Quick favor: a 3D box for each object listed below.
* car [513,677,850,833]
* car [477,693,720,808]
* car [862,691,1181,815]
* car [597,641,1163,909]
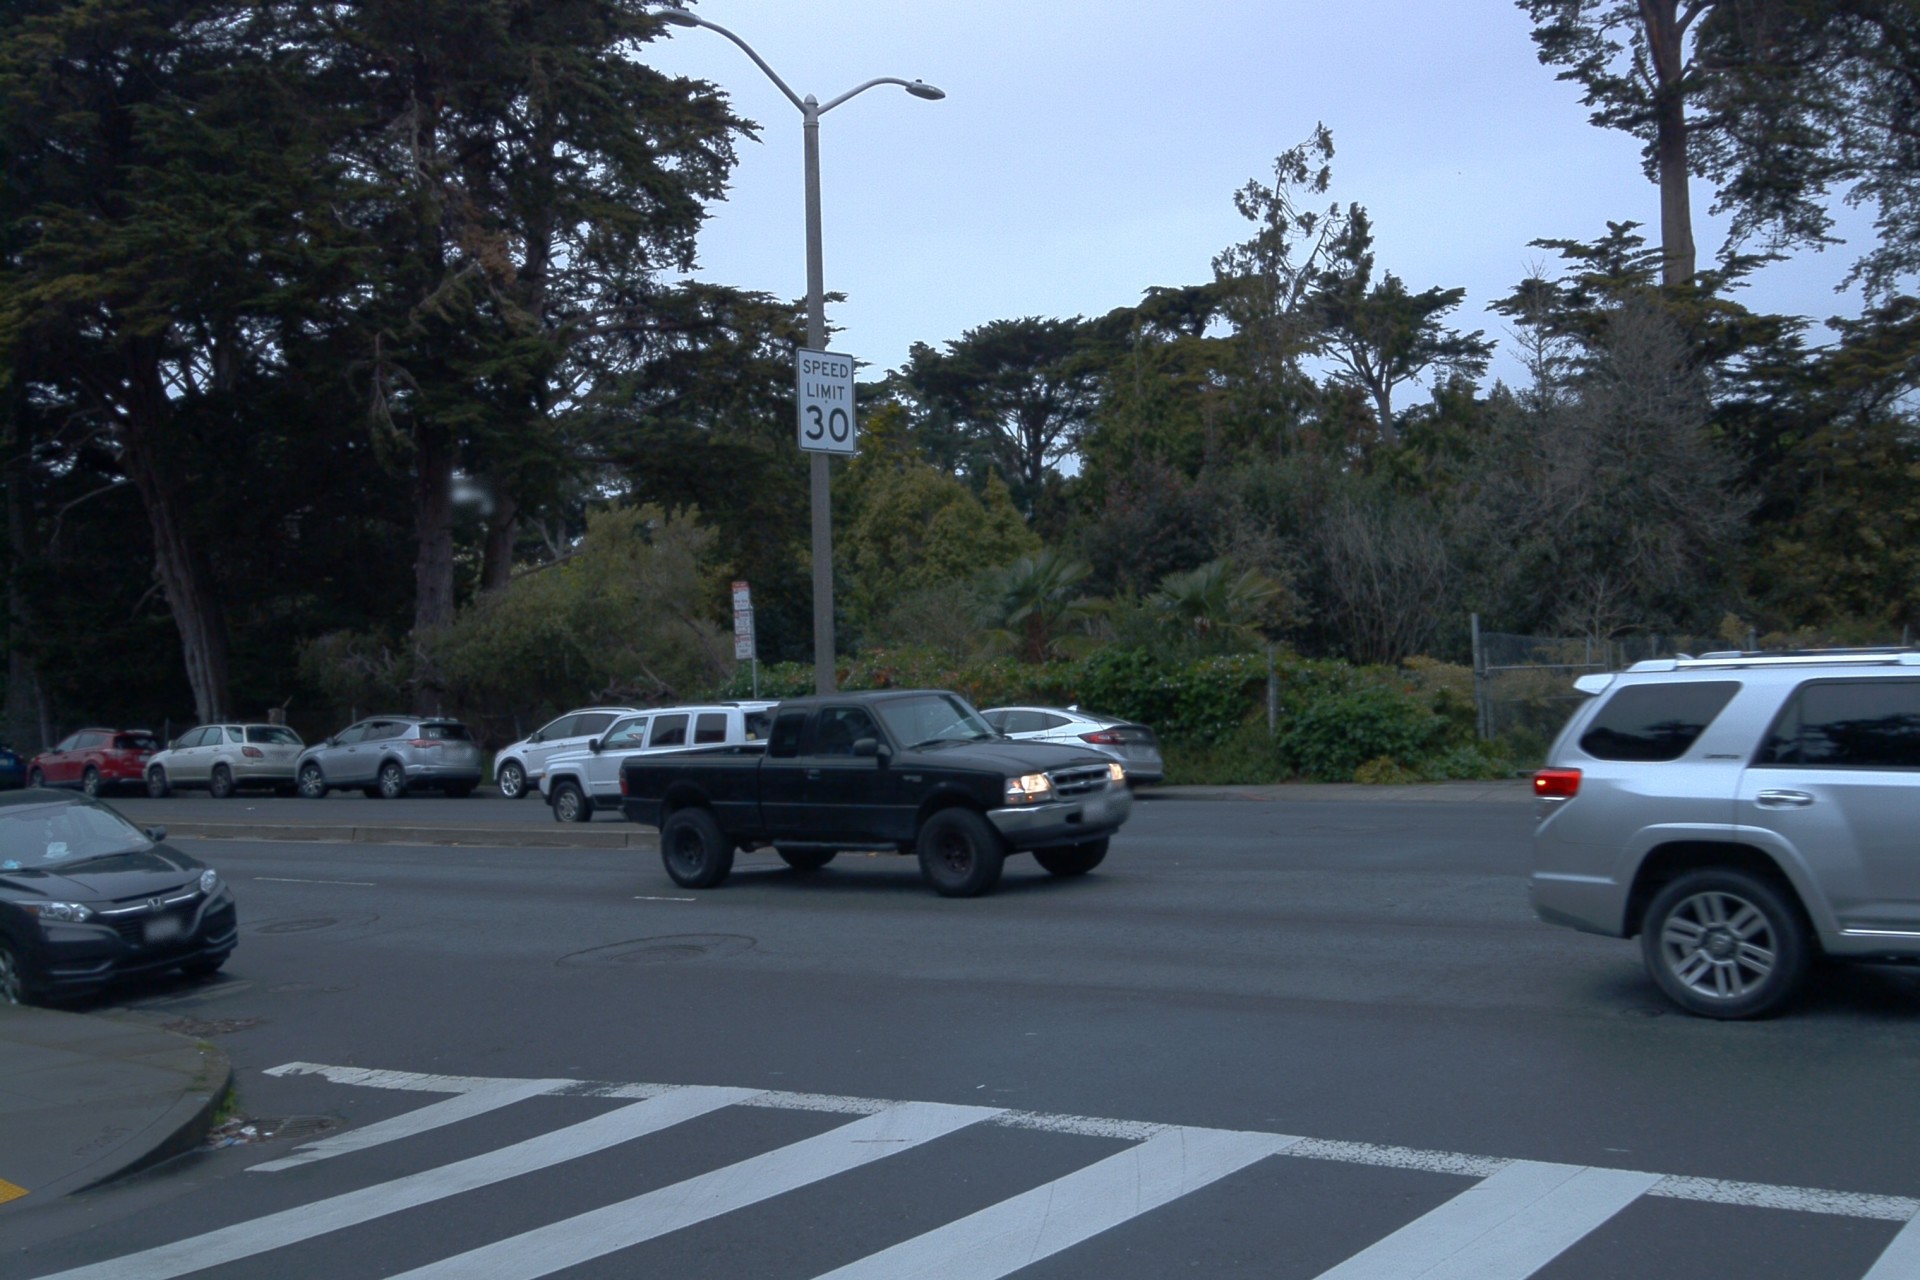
[{"bbox_3d":[-3.827,1.481,27.865,4.357,1.820,2.095,1,1,38],"label":"car"},{"bbox_3d":[-6.751,1.993,38.098,4.387,1.830,2.051,1,1,39],"label":"car"},{"bbox_3d":[0.905,1.700,32.080,4.710,1.630,2.044,1,1,39],"label":"car"},{"bbox_3d":[-0.867,1.103,19.125,5.238,2.110,2.017,1,1,39],"label":"car"}]
